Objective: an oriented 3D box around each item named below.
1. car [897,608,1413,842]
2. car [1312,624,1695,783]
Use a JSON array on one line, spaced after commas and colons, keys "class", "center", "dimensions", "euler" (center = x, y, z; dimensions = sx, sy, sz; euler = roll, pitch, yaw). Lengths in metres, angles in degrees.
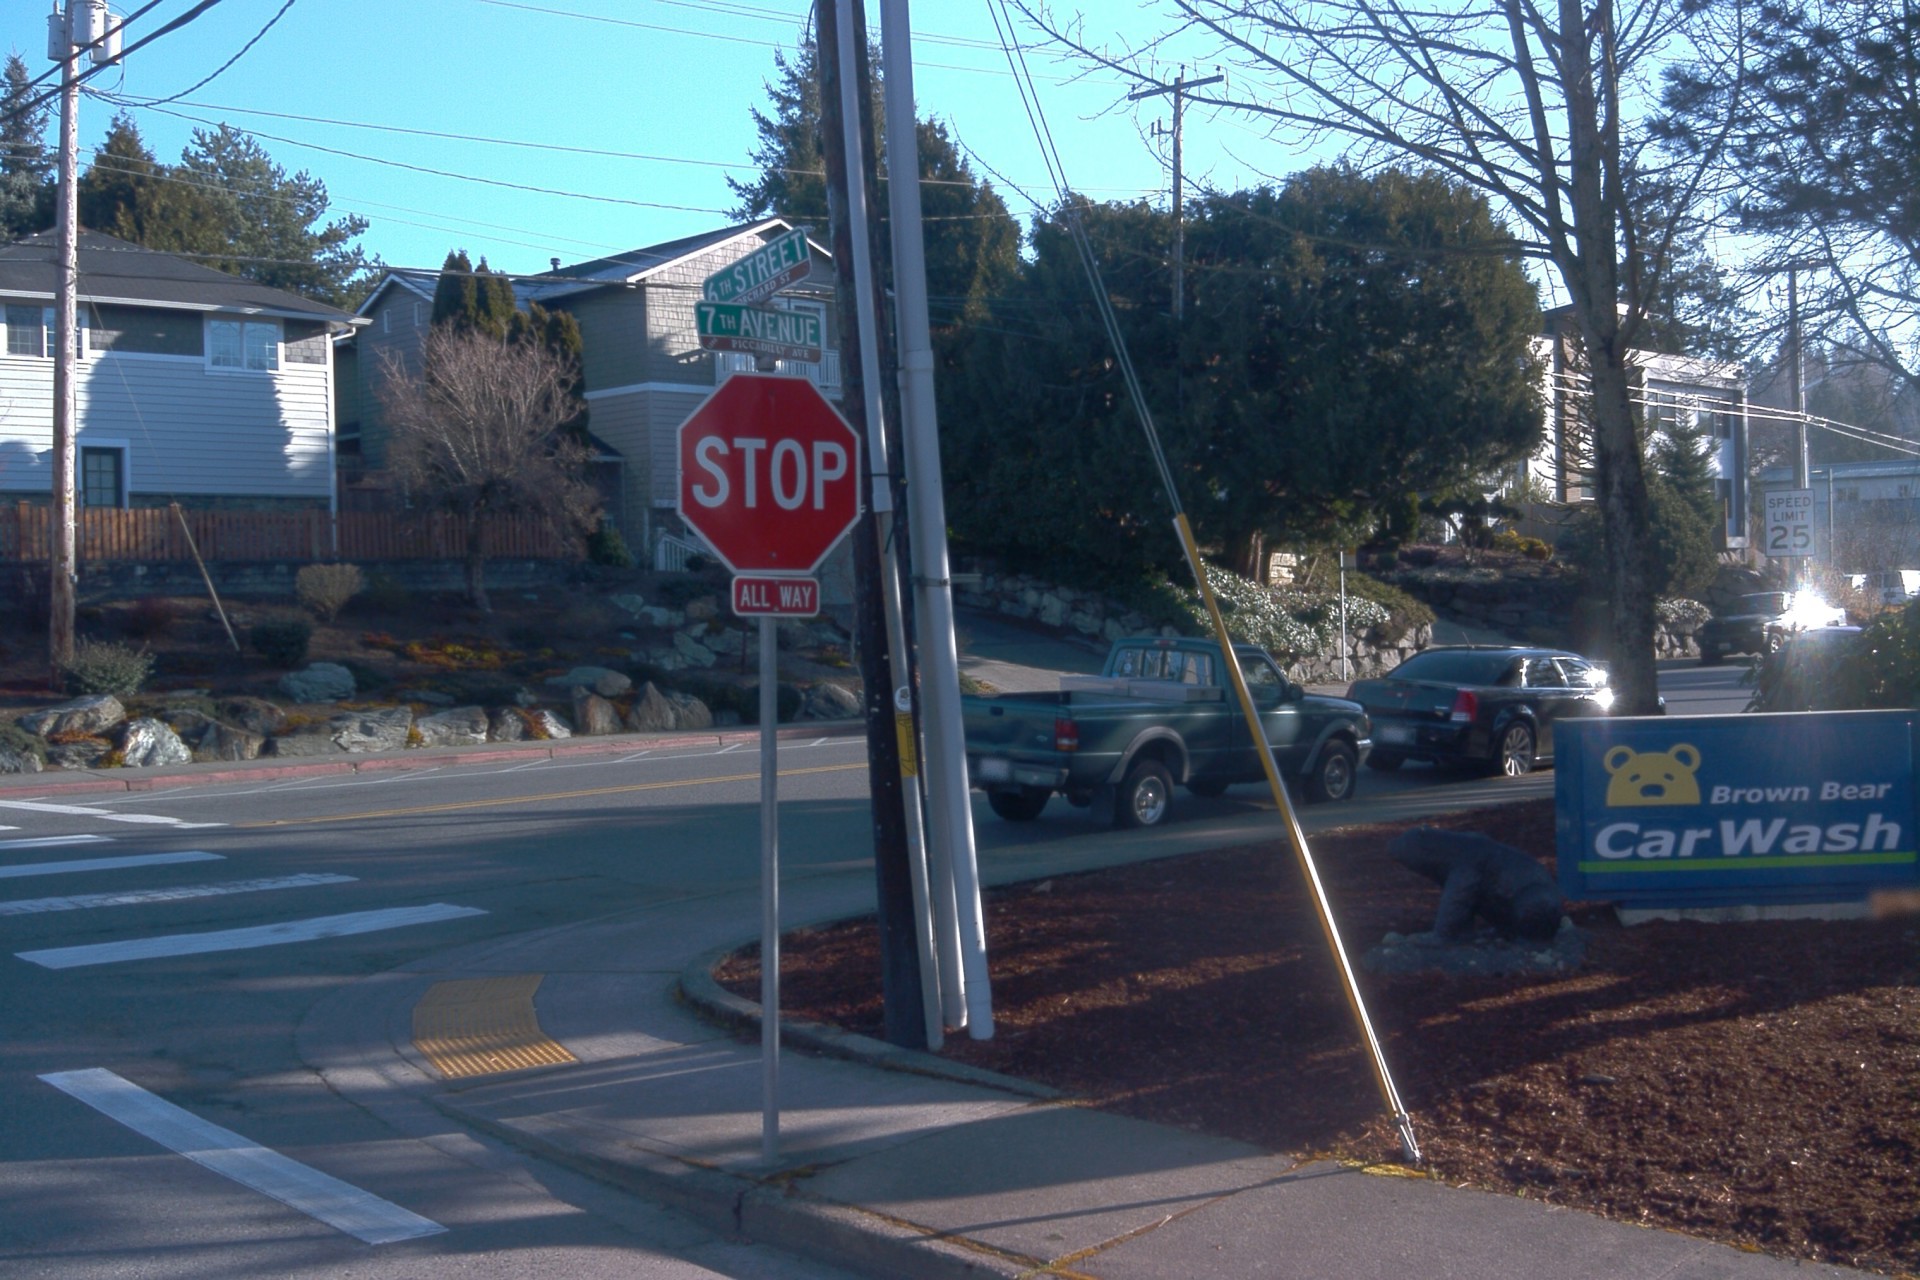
[{"class": "car", "center": [1.981, 0.684, 19.385], "dimensions": [2.128, 1.920, 5.099], "euler": [1, 1, 44]}, {"class": "car", "center": [6.423, 0.655, 23.857], "dimensions": [4.858, 1.660, 2.112], "euler": [0, 1, -44]}]
